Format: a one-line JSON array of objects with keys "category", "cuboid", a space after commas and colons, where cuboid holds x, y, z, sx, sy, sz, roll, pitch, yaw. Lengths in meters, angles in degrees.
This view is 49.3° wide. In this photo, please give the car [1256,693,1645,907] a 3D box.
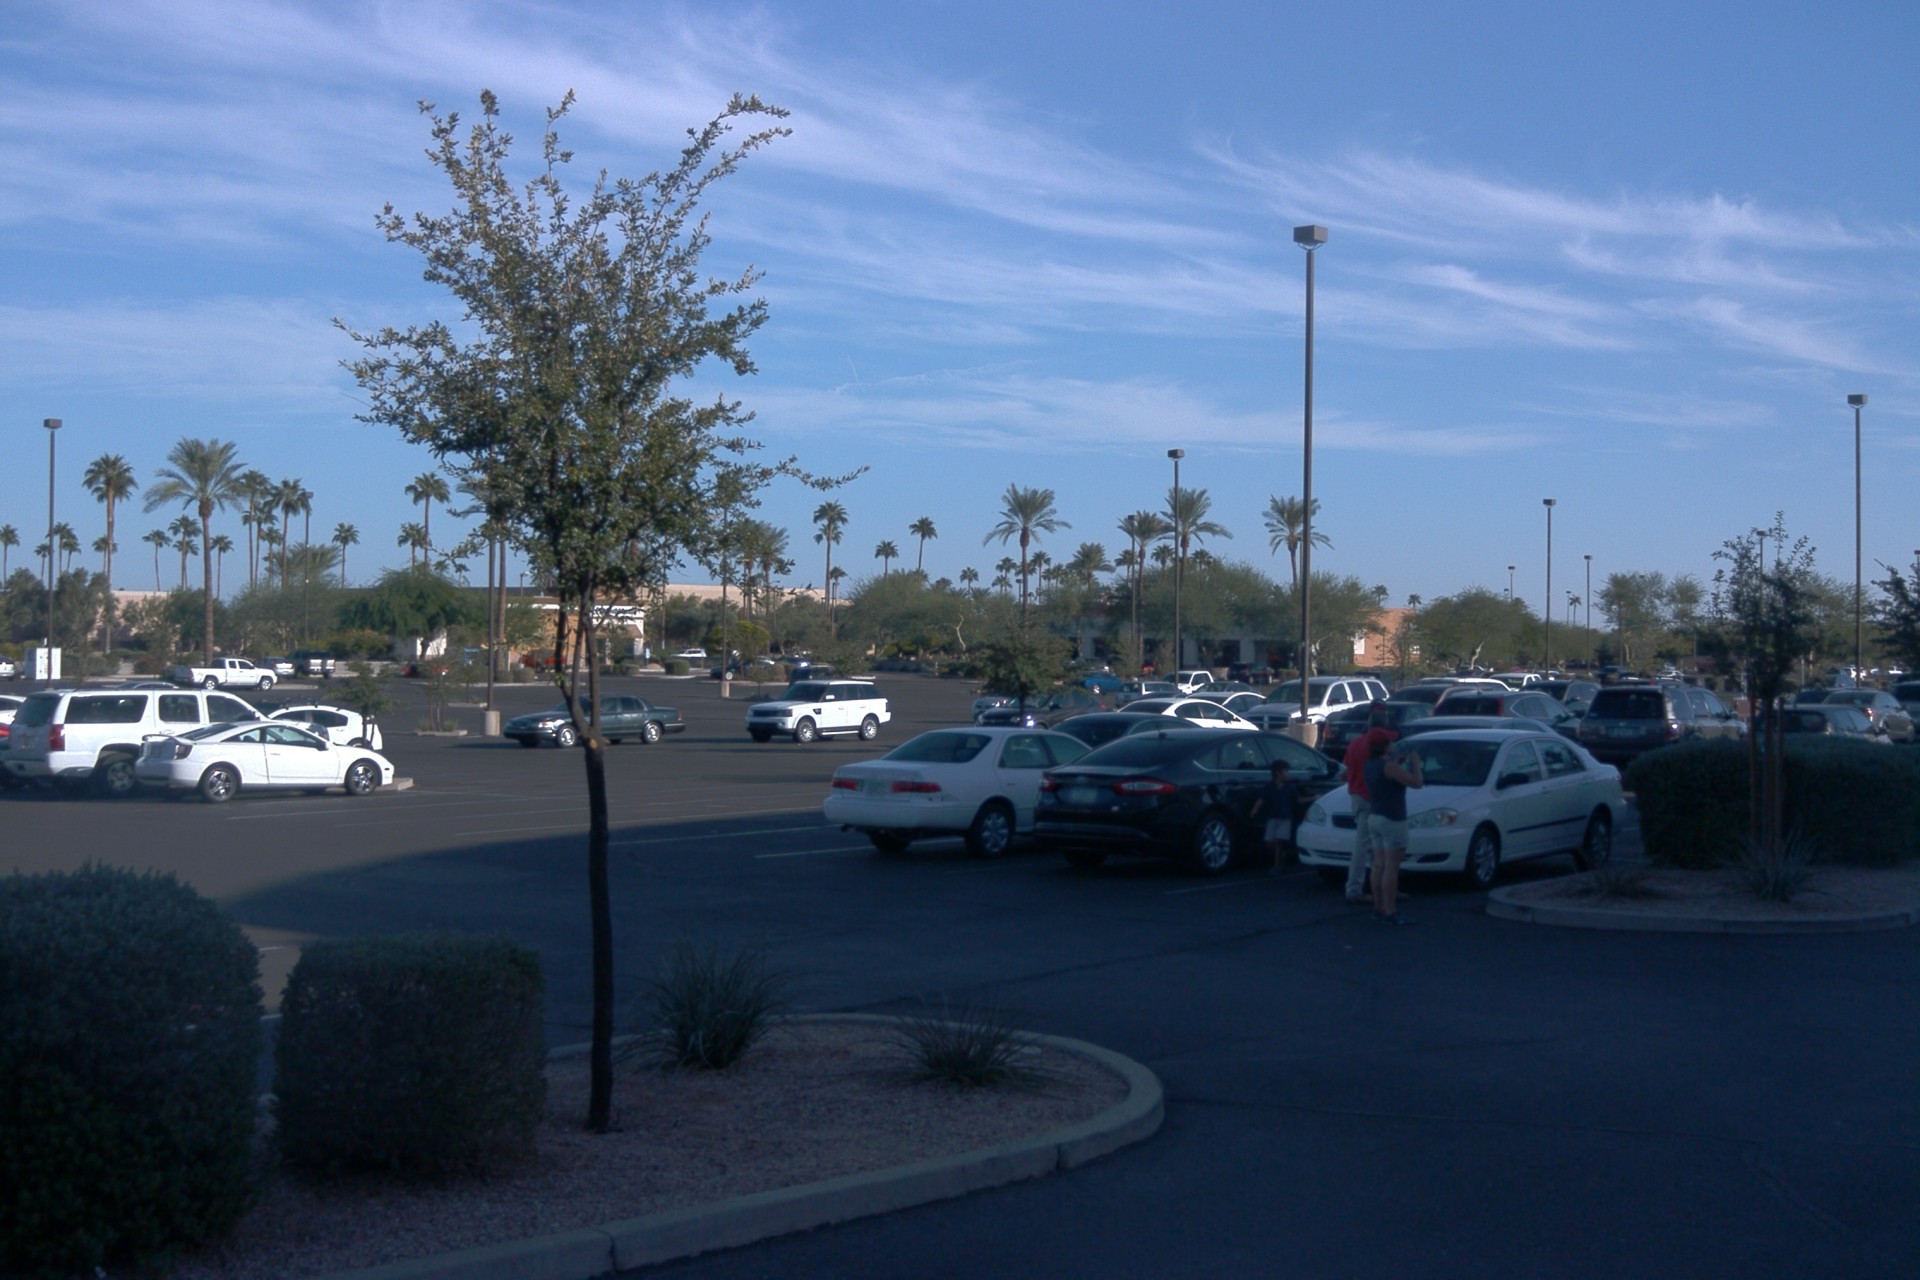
[{"category": "car", "cuboid": [5.062, 1.487, 21.102, 1.907, 1.770, 4.730, 0, 0, 40]}]

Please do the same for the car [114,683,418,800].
[{"category": "car", "cuboid": [-11.596, 1.644, 35.184, 2.059, 1.720, 4.404, 0, 0, 42]}]

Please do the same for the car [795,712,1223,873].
[{"category": "car", "cuboid": [0.659, 1.680, 24.298, 4.908, 1.500, 2.033, 0, 0, -42]}]

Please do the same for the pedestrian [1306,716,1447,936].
[{"category": "pedestrian", "cuboid": [3.465, 1.517, 17.394, 0.823, 1.720, 0.846, 0, 0, 43]}]

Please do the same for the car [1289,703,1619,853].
[{"category": "car", "cuboid": [6.508, 1.692, 27.112, 2.190, 1.580, 5.110, 0, 0, 38]}]

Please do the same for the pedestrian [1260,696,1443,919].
[{"category": "pedestrian", "cuboid": [3.481, 1.448, 18.599, 1.121, 1.850, 1.166, 0, 0, -44]}]

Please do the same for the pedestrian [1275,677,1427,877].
[{"category": "pedestrian", "cuboid": [4.119, 1.407, 22.021, 1.223, 2.000, 1.069, 0, 0, 37]}]

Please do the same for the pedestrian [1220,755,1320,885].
[{"category": "pedestrian", "cuboid": [3.130, 1.798, 21.078, 0.834, 1.210, 0.816, 0, 0, 21]}]

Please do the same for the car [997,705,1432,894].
[{"category": "car", "cuboid": [2.867, 1.603, 22.543, 2.063, 1.630, 5.110, 0, 0, 43]}]
